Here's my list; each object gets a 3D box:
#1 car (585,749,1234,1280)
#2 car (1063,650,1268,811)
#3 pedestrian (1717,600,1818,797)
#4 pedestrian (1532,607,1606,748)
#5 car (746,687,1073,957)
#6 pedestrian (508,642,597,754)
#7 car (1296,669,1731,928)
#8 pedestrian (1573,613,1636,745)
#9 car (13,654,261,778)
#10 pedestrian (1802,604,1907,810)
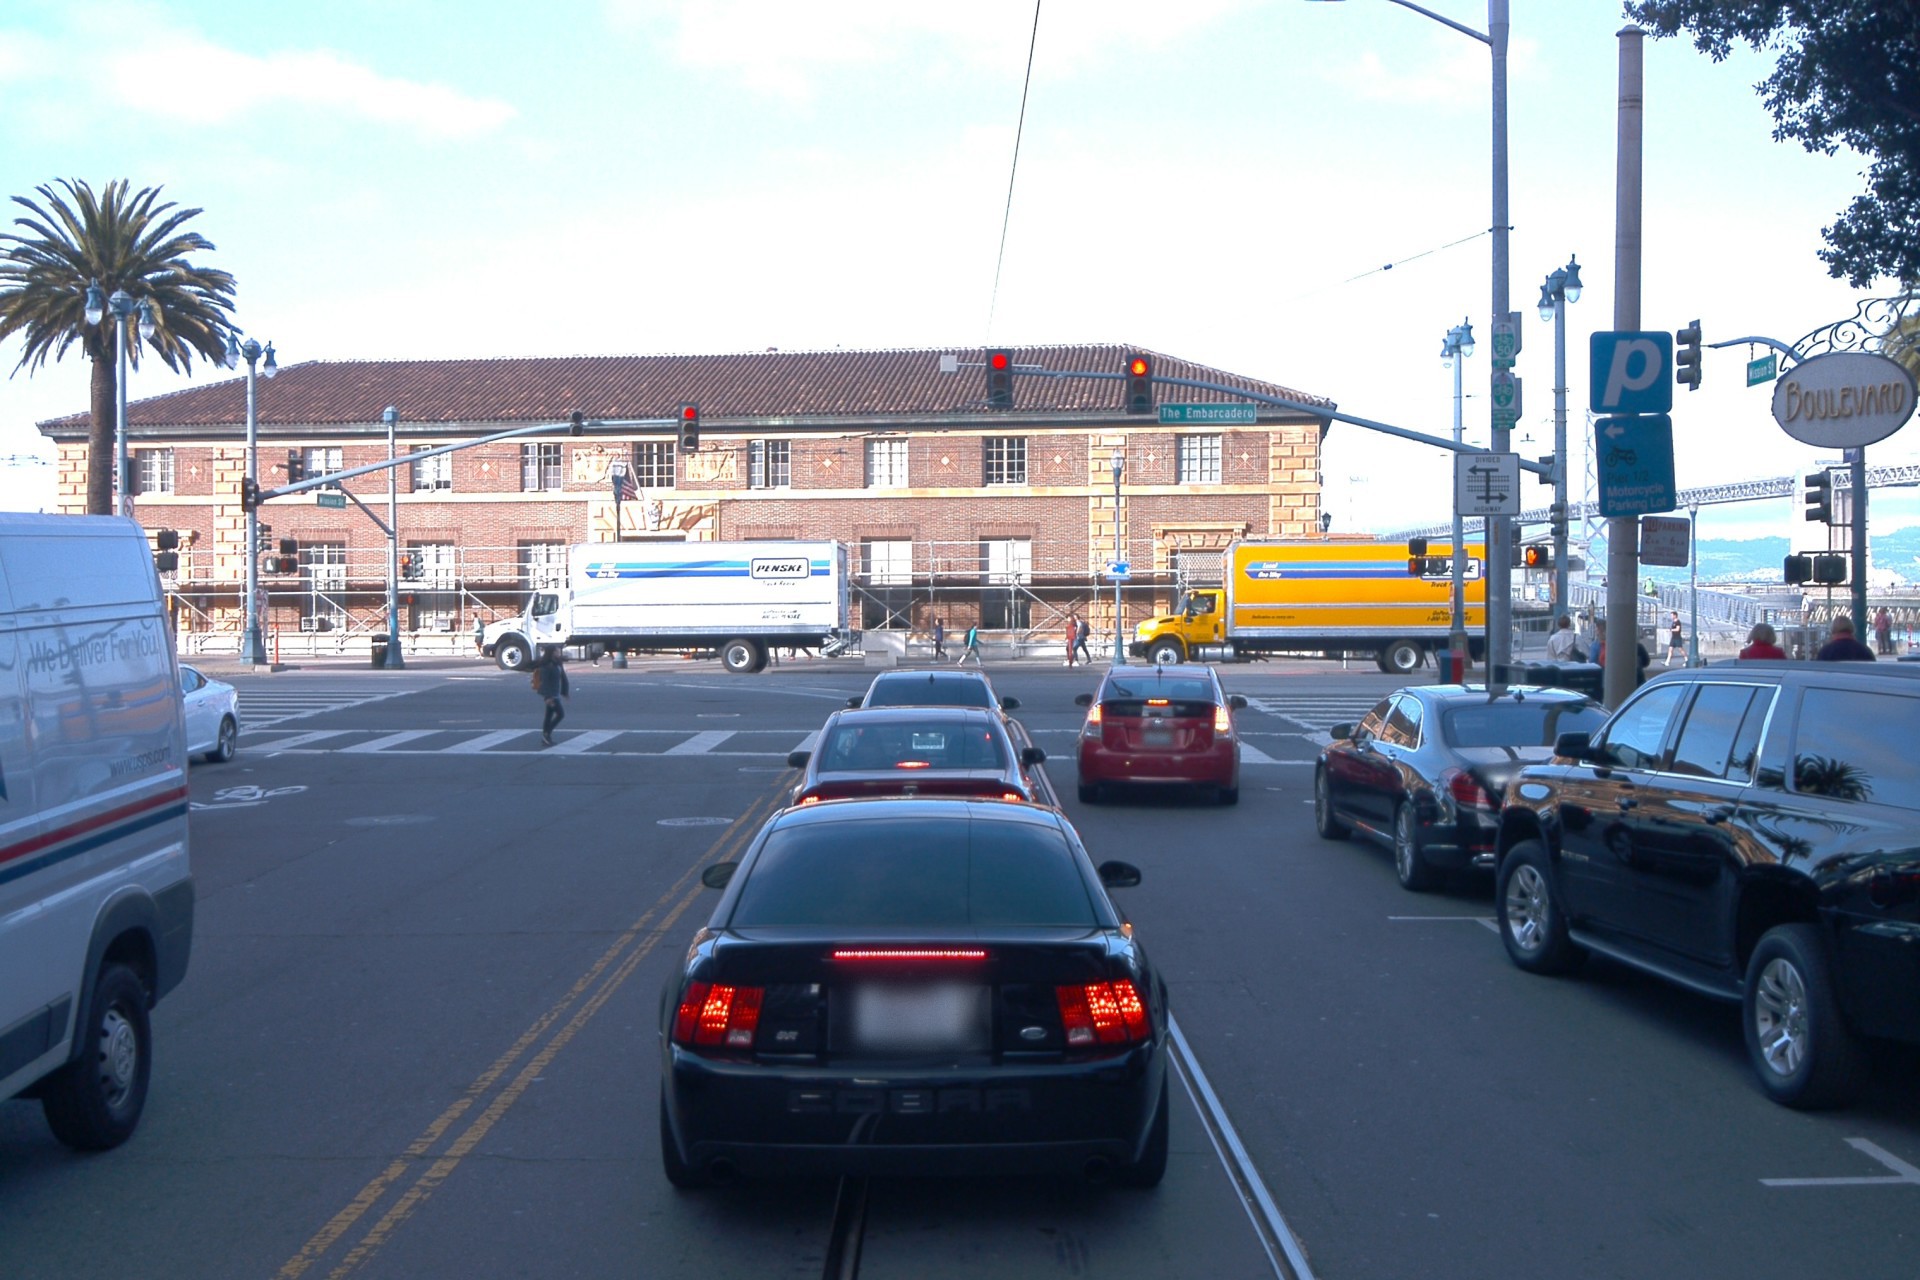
[{"bbox_3d":[-0.158,1.309,8.383,2.005,1.463,4.021,0,1,0],"label":"car"},{"bbox_3d":[2.309,0.941,23.473,2.102,1.570,4.550,0,1,5],"label":"car"},{"bbox_3d":[7.631,0.537,19.460,0.731,1.828,0.808,0,1,9],"label":"pedestrian"},{"bbox_3d":[8.647,0.516,29.228,0.837,1.970,0.922,0,1,5],"label":"pedestrian"},{"bbox_3d":[-0.319,1.184,14.902,2.032,1.533,4.187,0,1,0],"label":"car"},{"bbox_3d":[-6.053,0.853,30.571,1.074,1.621,0.773,0,1,12],"label":"pedestrian"},{"bbox_3d":[4.227,1.128,16.719,2.062,1.630,5.189,0,1,-1],"label":"car"},{"bbox_3d":[9.252,0.552,29.530,0.667,1.870,0.754,0,1,1],"label":"pedestrian"},{"bbox_3d":[-10.675,0.943,26.929,1.723,1.430,3.630,0,1,2],"label":"car"},{"bbox_3d":[8.382,0.611,19.286,0.731,1.890,0.808,0,1,10],"label":"pedestrian"}]
